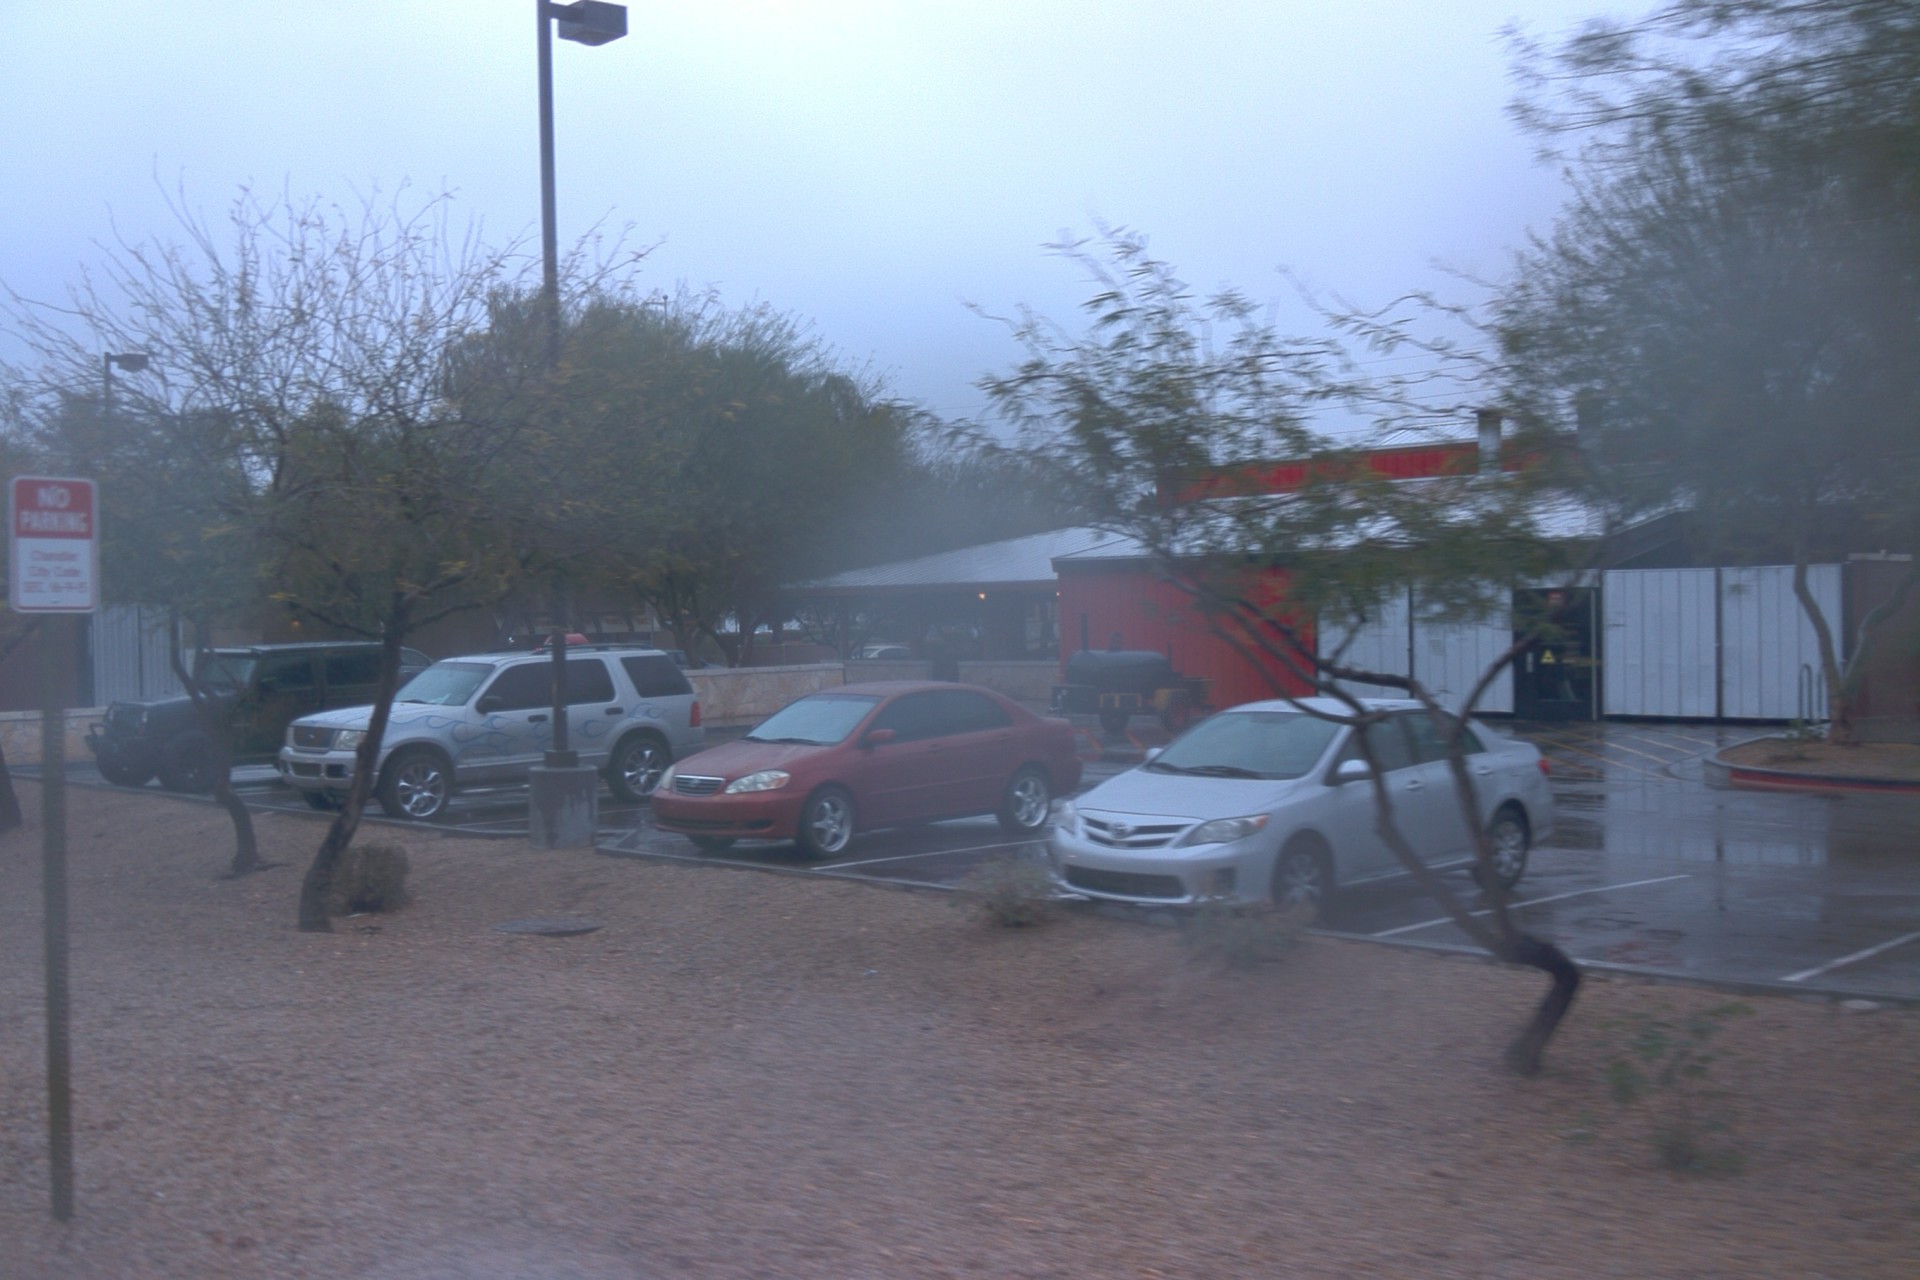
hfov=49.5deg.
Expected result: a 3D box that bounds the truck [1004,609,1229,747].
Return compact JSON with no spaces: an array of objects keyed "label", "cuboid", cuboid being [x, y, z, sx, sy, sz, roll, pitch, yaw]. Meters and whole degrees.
[{"label":"truck","cuboid":[2.643,0.617,34.606,1.721,2.160,3.931,0,0,41]}]

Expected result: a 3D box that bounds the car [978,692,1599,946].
[{"label":"car","cuboid":[2.517,1.155,15.118,4.649,1.490,2.083,1,-1,-44]}]

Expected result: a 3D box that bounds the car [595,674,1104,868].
[{"label":"car","cuboid":[-0.913,1.105,19.322,2.049,1.560,4.510,0,-1,45]}]

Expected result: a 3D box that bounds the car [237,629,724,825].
[{"label":"car","cuboid":[-5.254,0.895,23.295,2.244,1.950,4.850,0,-1,45]}]

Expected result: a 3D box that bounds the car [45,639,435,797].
[{"label":"car","cuboid":[-9.288,0.955,27.102,2.152,1.890,4.296,0,-1,43]}]
